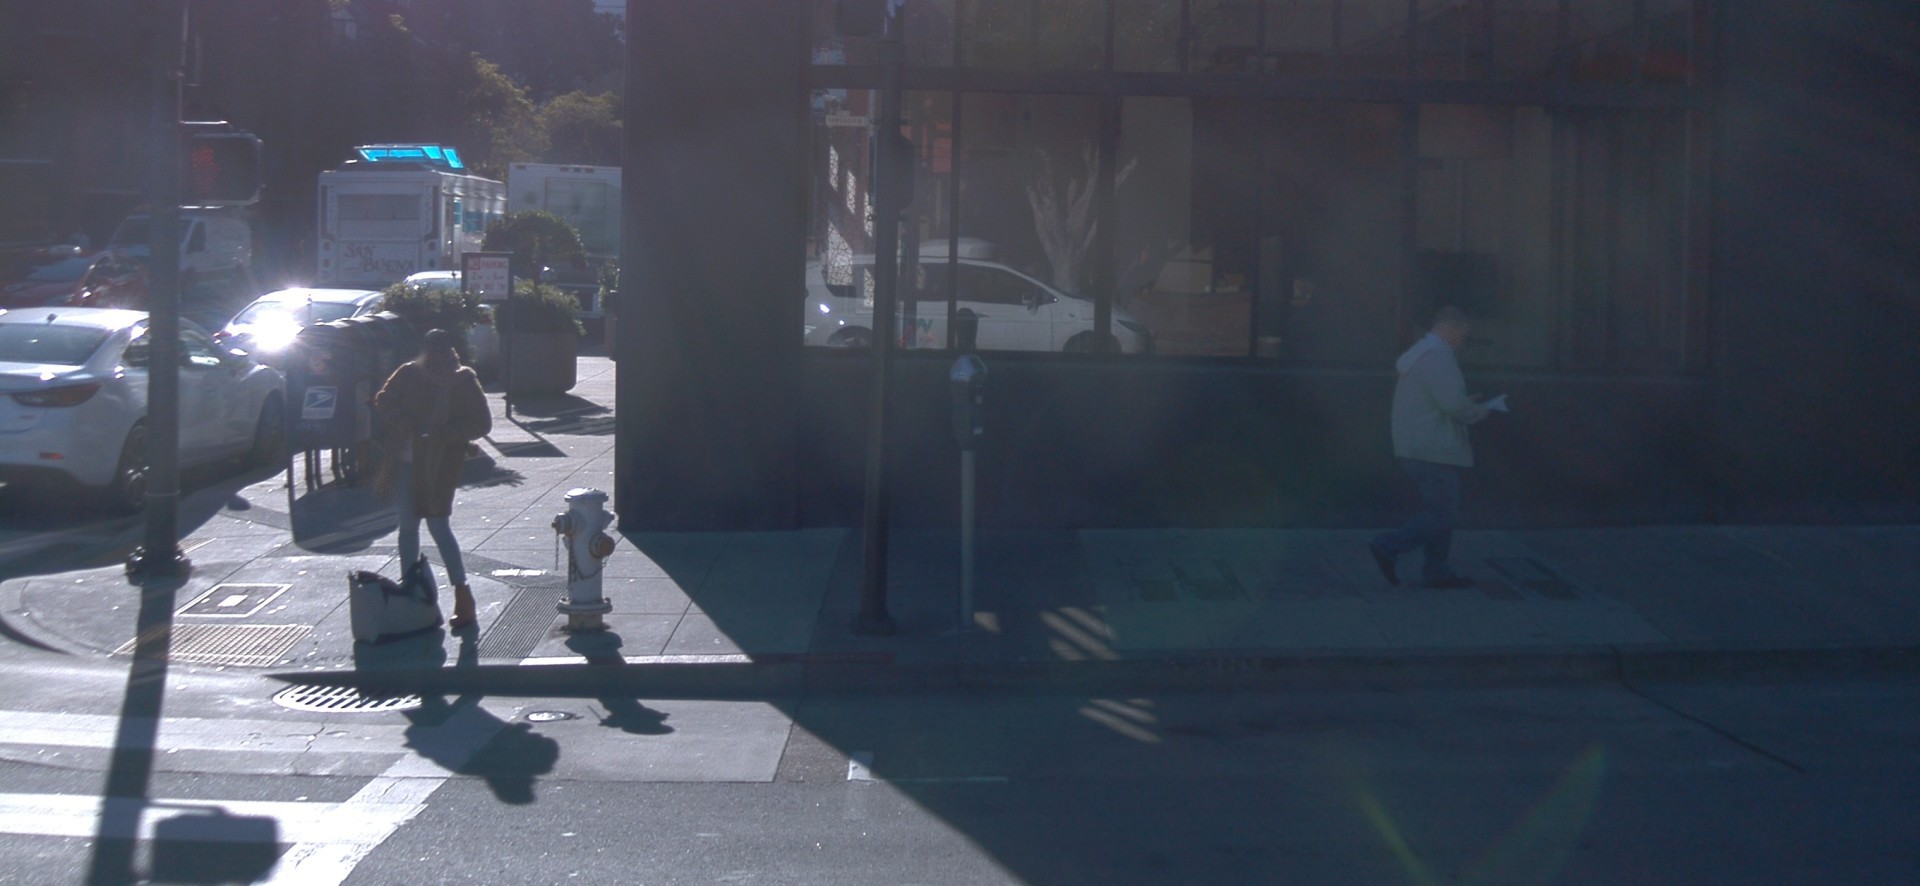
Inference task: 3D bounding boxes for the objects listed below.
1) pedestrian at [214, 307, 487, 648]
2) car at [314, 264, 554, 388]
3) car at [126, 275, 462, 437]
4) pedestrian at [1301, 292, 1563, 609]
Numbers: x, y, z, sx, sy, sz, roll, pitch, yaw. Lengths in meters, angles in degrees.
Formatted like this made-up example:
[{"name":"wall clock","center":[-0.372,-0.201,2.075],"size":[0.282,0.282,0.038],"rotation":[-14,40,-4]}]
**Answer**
[{"name":"pedestrian","center":[-3.282,0.131,11.220],"size":[0.977,1.678,1.024],"rotation":[1,2,27]},{"name":"car","center":[-7.108,-1.680,28.533],"size":[2.099,1.473,4.574],"rotation":[0,5,0]},{"name":"car","center":[-7.068,-1.032,22.561],"size":[2.133,1.463,4.486],"rotation":[0,5,1]},{"name":"pedestrian","center":[2.648,0.003,11.790],"size":[1.239,1.688,1.054],"rotation":[0,2,0]}]
